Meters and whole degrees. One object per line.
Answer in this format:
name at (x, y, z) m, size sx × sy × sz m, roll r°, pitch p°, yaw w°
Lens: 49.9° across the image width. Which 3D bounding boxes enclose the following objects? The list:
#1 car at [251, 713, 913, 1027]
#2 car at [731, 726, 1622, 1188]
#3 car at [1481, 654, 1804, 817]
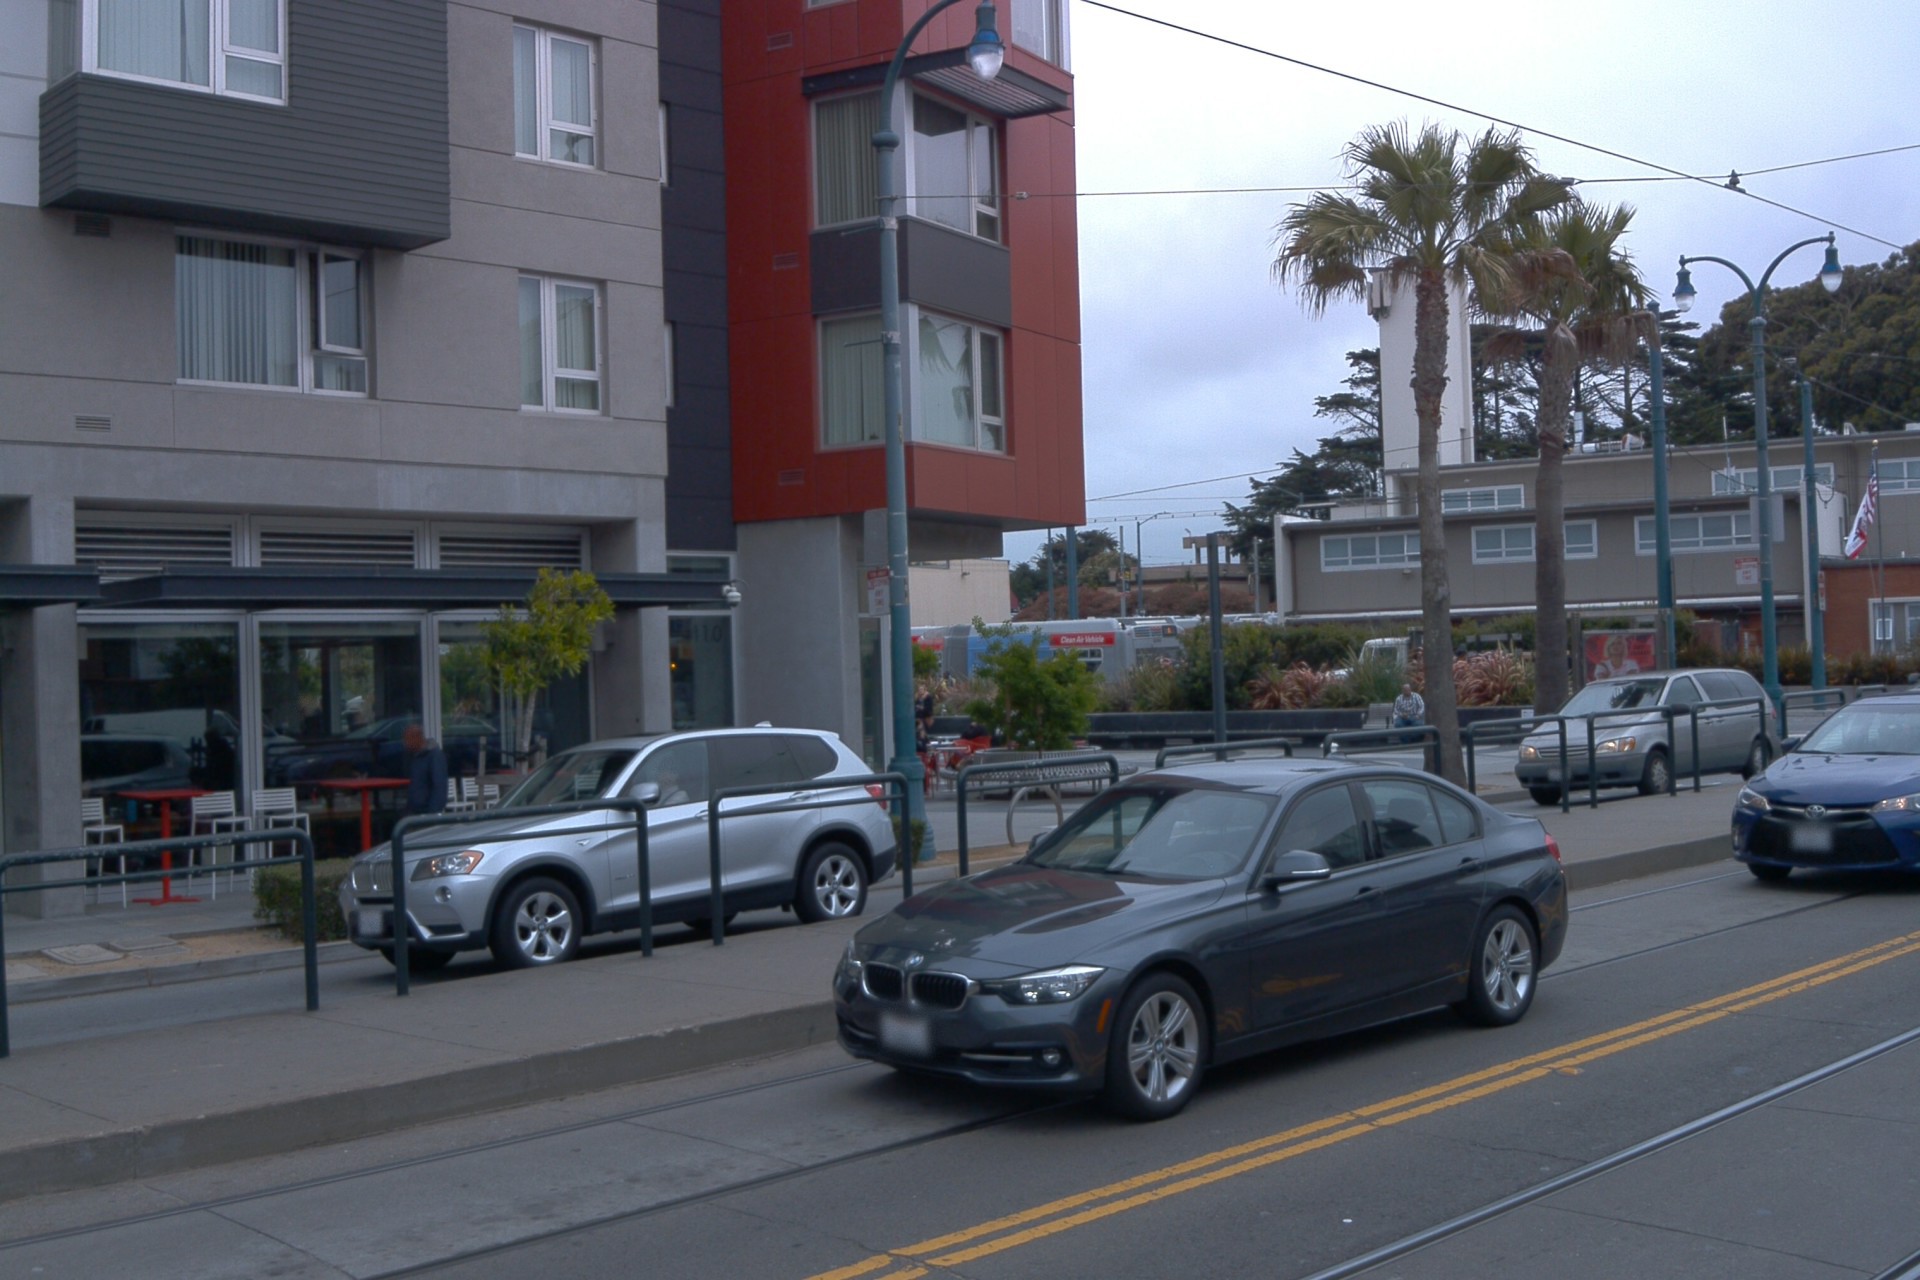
car at (-2.704, 1.558, 15.603) m, size 2.062 × 1.760 × 4.572 m, roll 1°, pitch 1°, yaw 44°
car at (1.296, 1.344, 10.438) m, size 4.663 × 1.540 × 1.956 m, roll -1°, pitch 1°, yaw -44°
car at (9.319, 1.201, 27.961) m, size 4.871 × 1.890 × 2.131 m, roll -1°, pitch 1°, yaw -44°
